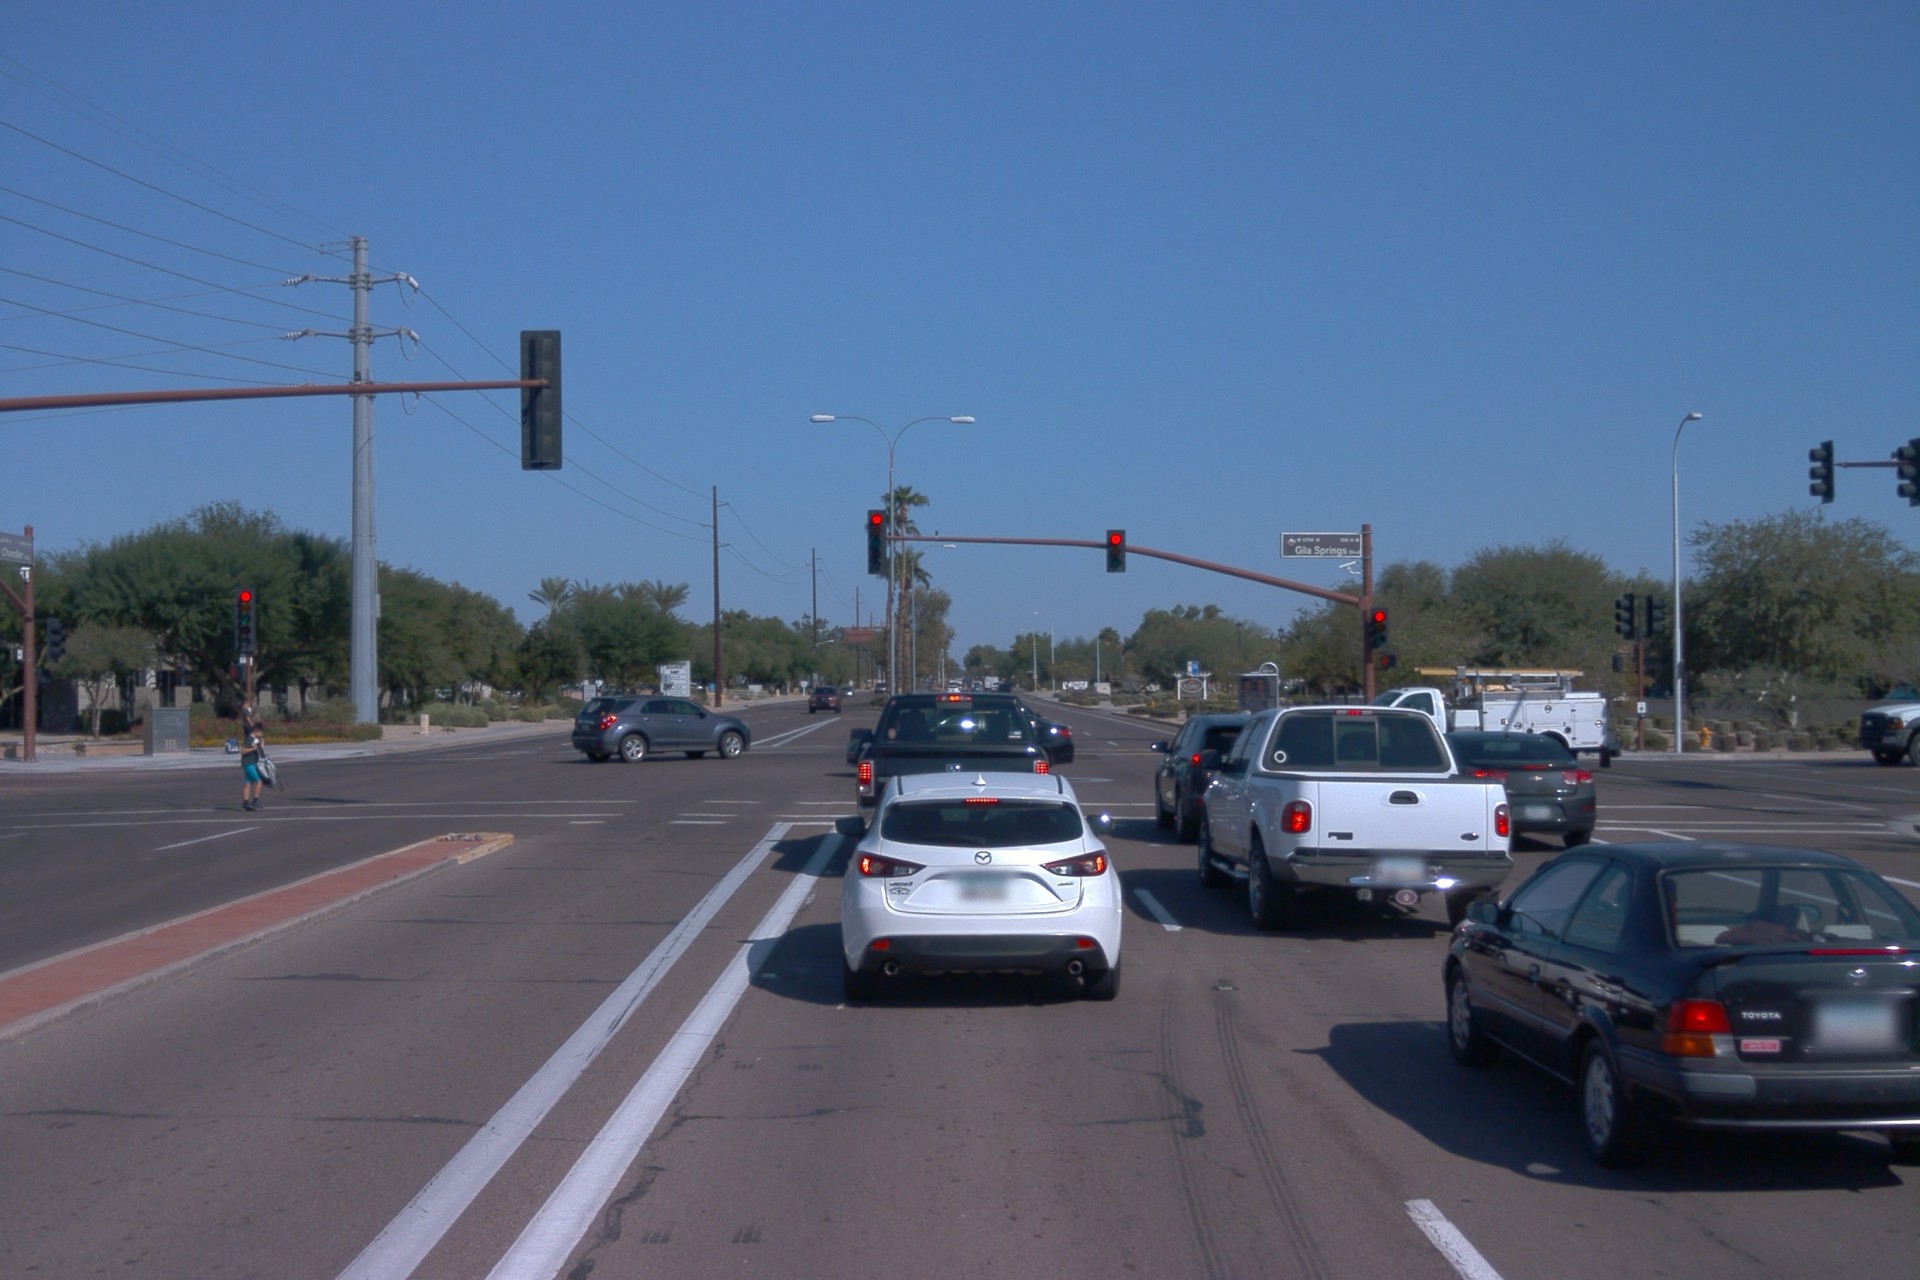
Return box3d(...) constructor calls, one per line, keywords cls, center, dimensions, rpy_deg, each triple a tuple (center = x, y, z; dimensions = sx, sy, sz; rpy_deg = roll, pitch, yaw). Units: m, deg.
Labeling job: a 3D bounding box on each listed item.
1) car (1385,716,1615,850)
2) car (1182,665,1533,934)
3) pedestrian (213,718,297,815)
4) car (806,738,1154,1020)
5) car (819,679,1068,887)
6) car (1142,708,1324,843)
box3d(cls="car", center=(6.866, 1.780, 26.946), dimensions=(1.828, 1.540, 4.447), rpy_deg=(0, -1, 0))
box3d(cls="car", center=(3.360, 1.303, 18.819), dimensions=(2.073, 2.070, 5.518), rpy_deg=(0, -1, 0))
box3d(cls="pedestrian", center=(-11.257, 2.016, 33.269), dimensions=(1.087, 1.530, 0.743), rpy_deg=(0, -1, -1))
box3d(cls="car", center=(0.136, 1.552, 14.884), dimensions=(2.099, 1.600, 4.628), rpy_deg=(0, -1, 0))
box3d(cls="car", center=(-0.086, 1.503, 23.376), dimensions=(2.500, 2.080, 5.001), rpy_deg=(0, -1, 2))
box3d(cls="car", center=(3.528, 1.726, 27.625), dimensions=(1.789, 1.630, 4.213), rpy_deg=(0, -1, -1))
